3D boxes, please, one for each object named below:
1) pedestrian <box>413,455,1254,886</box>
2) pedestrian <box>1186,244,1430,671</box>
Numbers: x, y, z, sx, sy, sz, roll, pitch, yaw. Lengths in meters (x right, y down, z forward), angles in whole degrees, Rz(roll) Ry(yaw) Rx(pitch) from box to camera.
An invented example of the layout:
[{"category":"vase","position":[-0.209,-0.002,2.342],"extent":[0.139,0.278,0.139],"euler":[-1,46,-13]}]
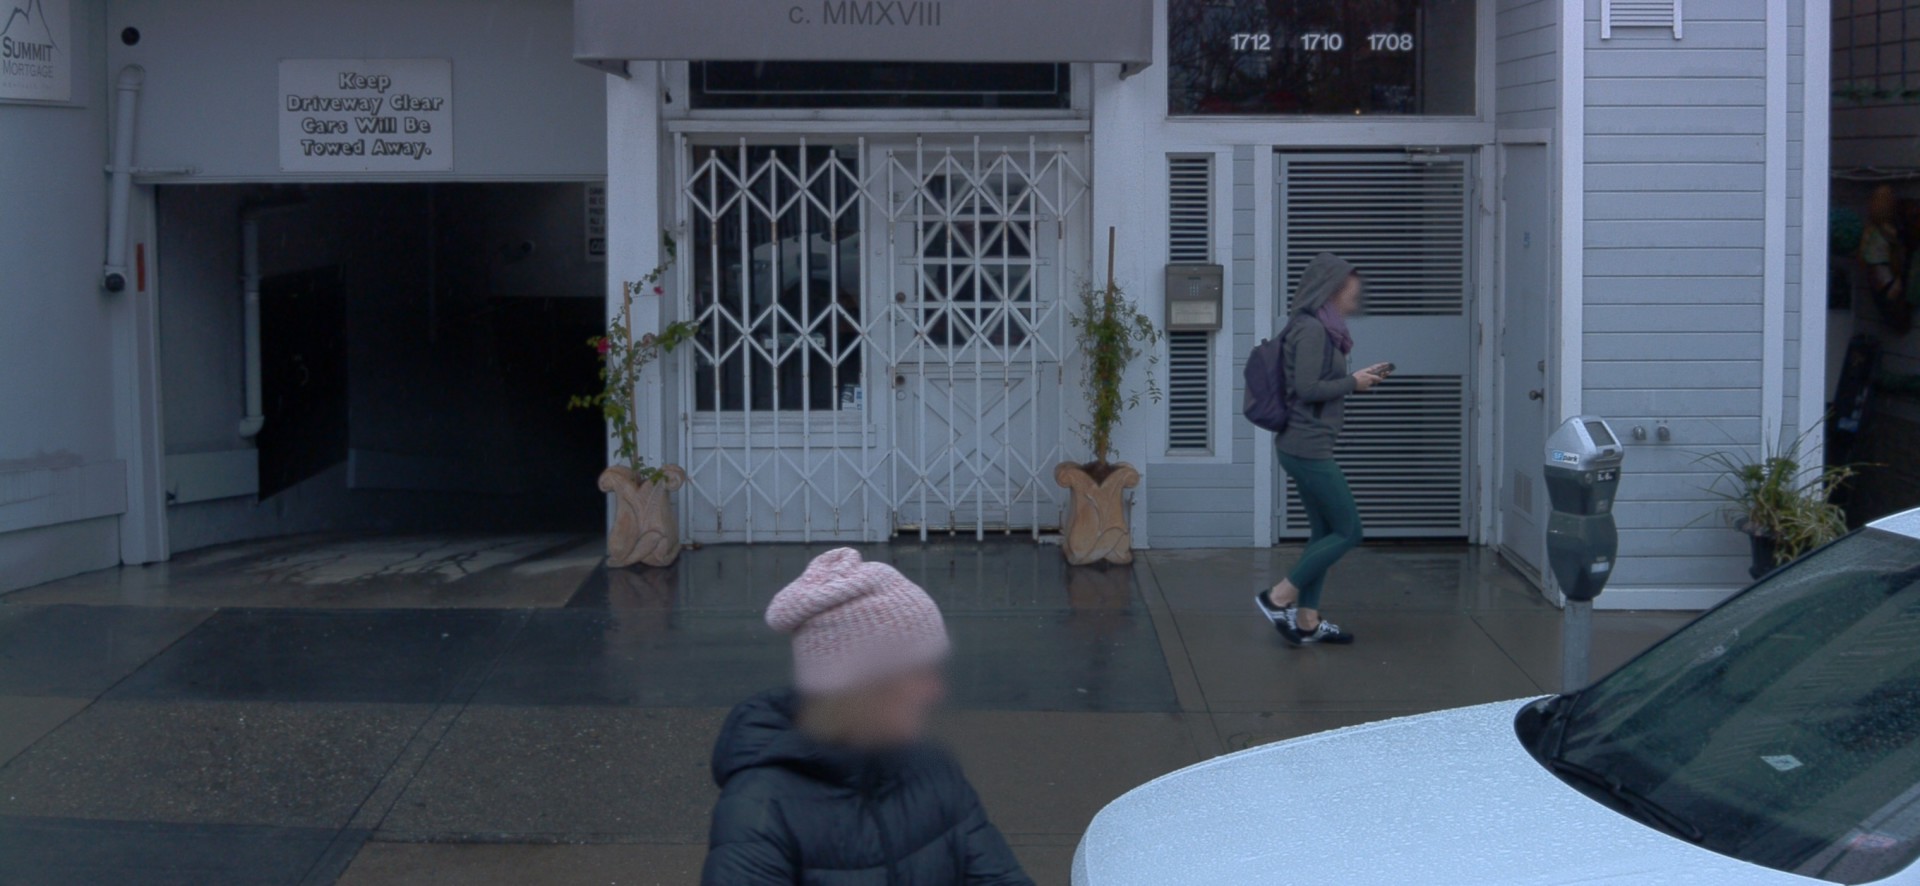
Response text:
[{"category":"pedestrian","position":[-0.135,0.958,3.016],"extent":[0.927,1.748,0.919],"euler":[1,2,21]},{"category":"pedestrian","position":[1.452,0.018,8.610],"extent":[0.959,1.698,0.681],"euler":[1,1,9]}]
